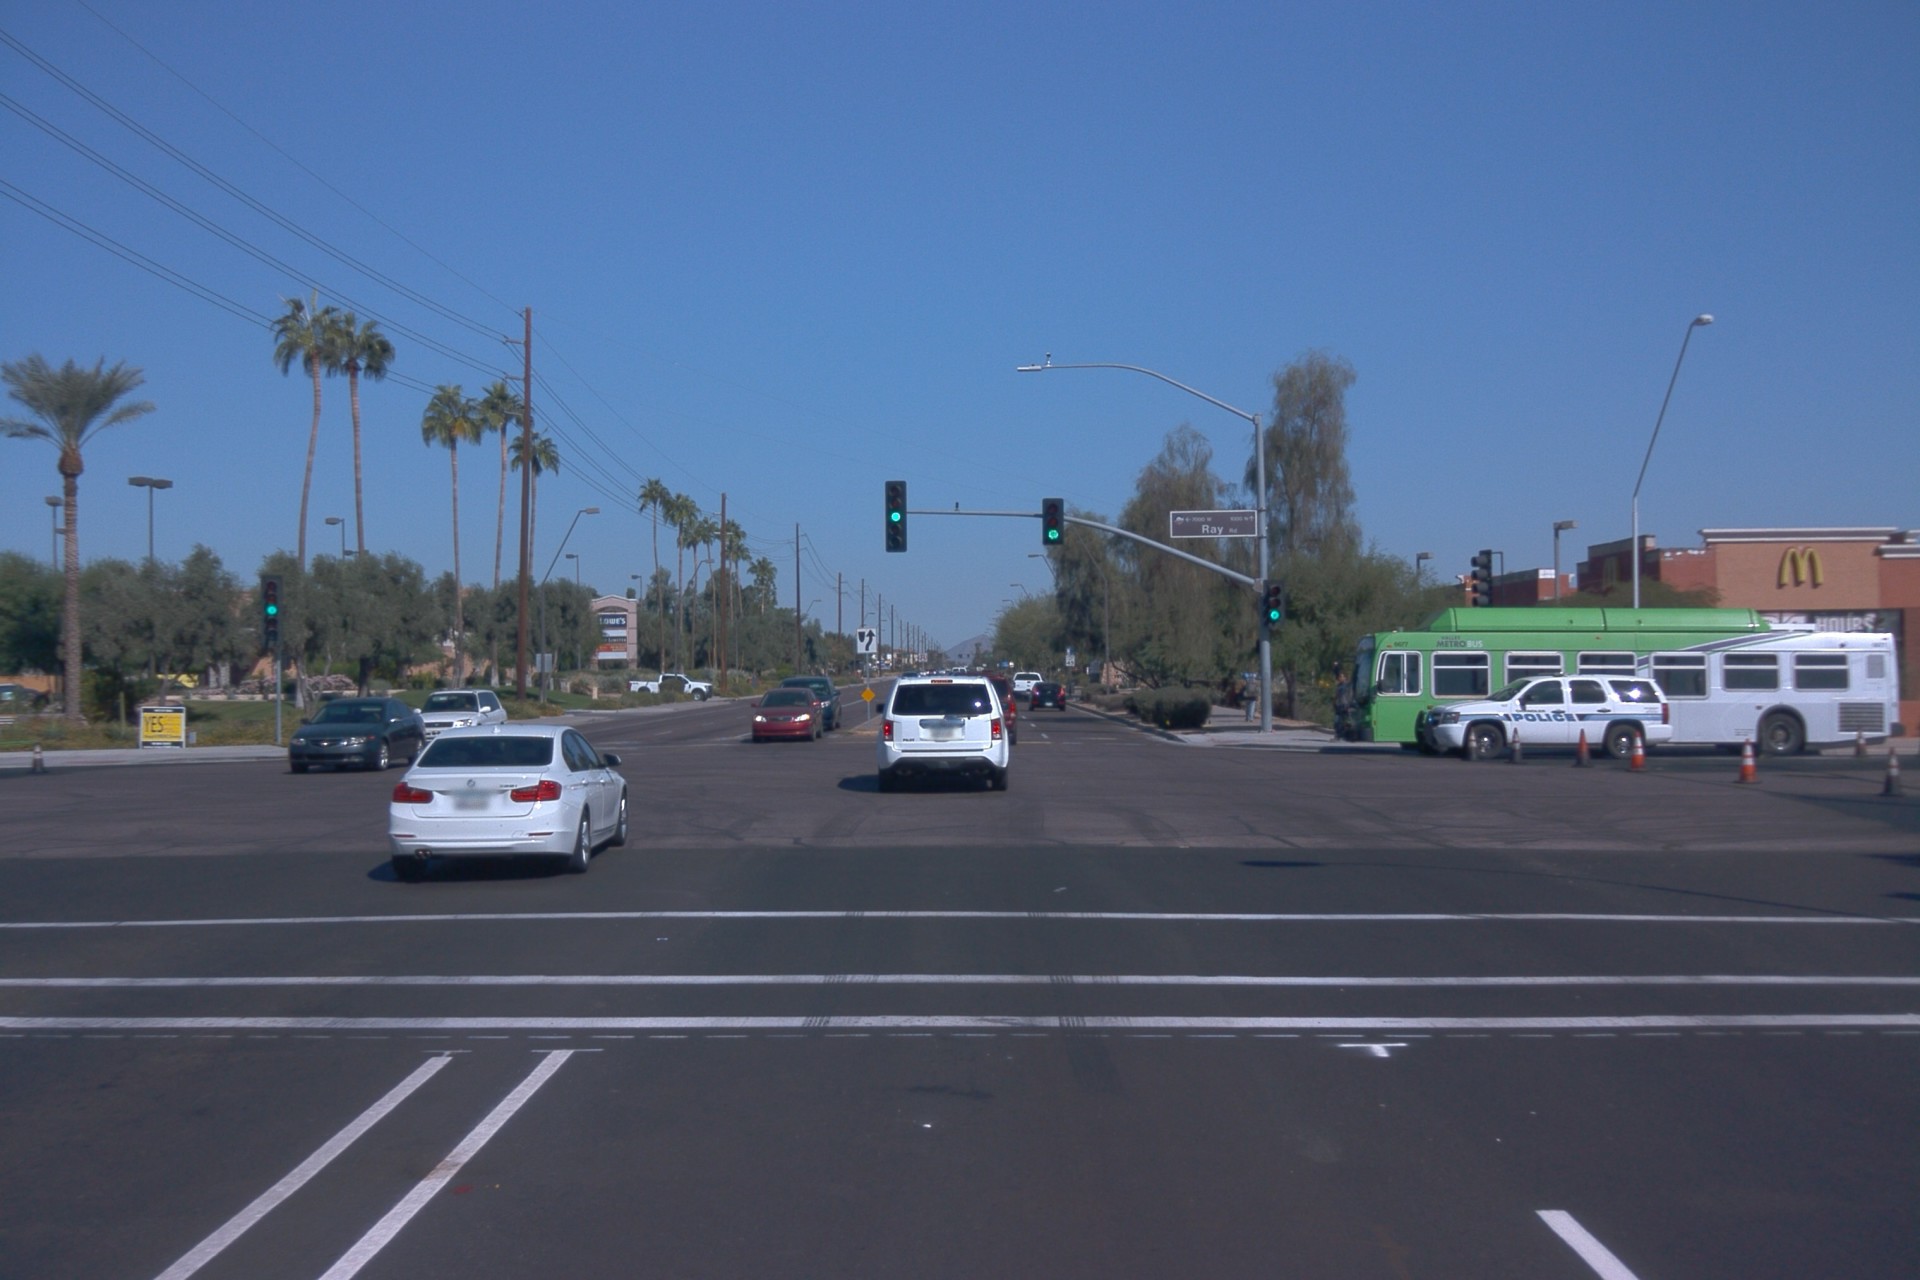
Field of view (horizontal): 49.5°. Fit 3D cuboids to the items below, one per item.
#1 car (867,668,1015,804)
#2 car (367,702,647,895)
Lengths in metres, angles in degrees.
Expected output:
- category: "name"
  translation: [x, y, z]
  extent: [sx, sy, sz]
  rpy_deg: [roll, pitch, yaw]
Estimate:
- category: "car"
  translation: [-0.271, 1.442, 33.030]
  extent: [2.164, 1.960, 4.678]
  rpy_deg: [1, 0, 0]
- category: "car"
  translation: [-4.527, 1.530, 21.517]
  extent: [1.933, 1.660, 4.696]
  rpy_deg: [1, 0, -1]
